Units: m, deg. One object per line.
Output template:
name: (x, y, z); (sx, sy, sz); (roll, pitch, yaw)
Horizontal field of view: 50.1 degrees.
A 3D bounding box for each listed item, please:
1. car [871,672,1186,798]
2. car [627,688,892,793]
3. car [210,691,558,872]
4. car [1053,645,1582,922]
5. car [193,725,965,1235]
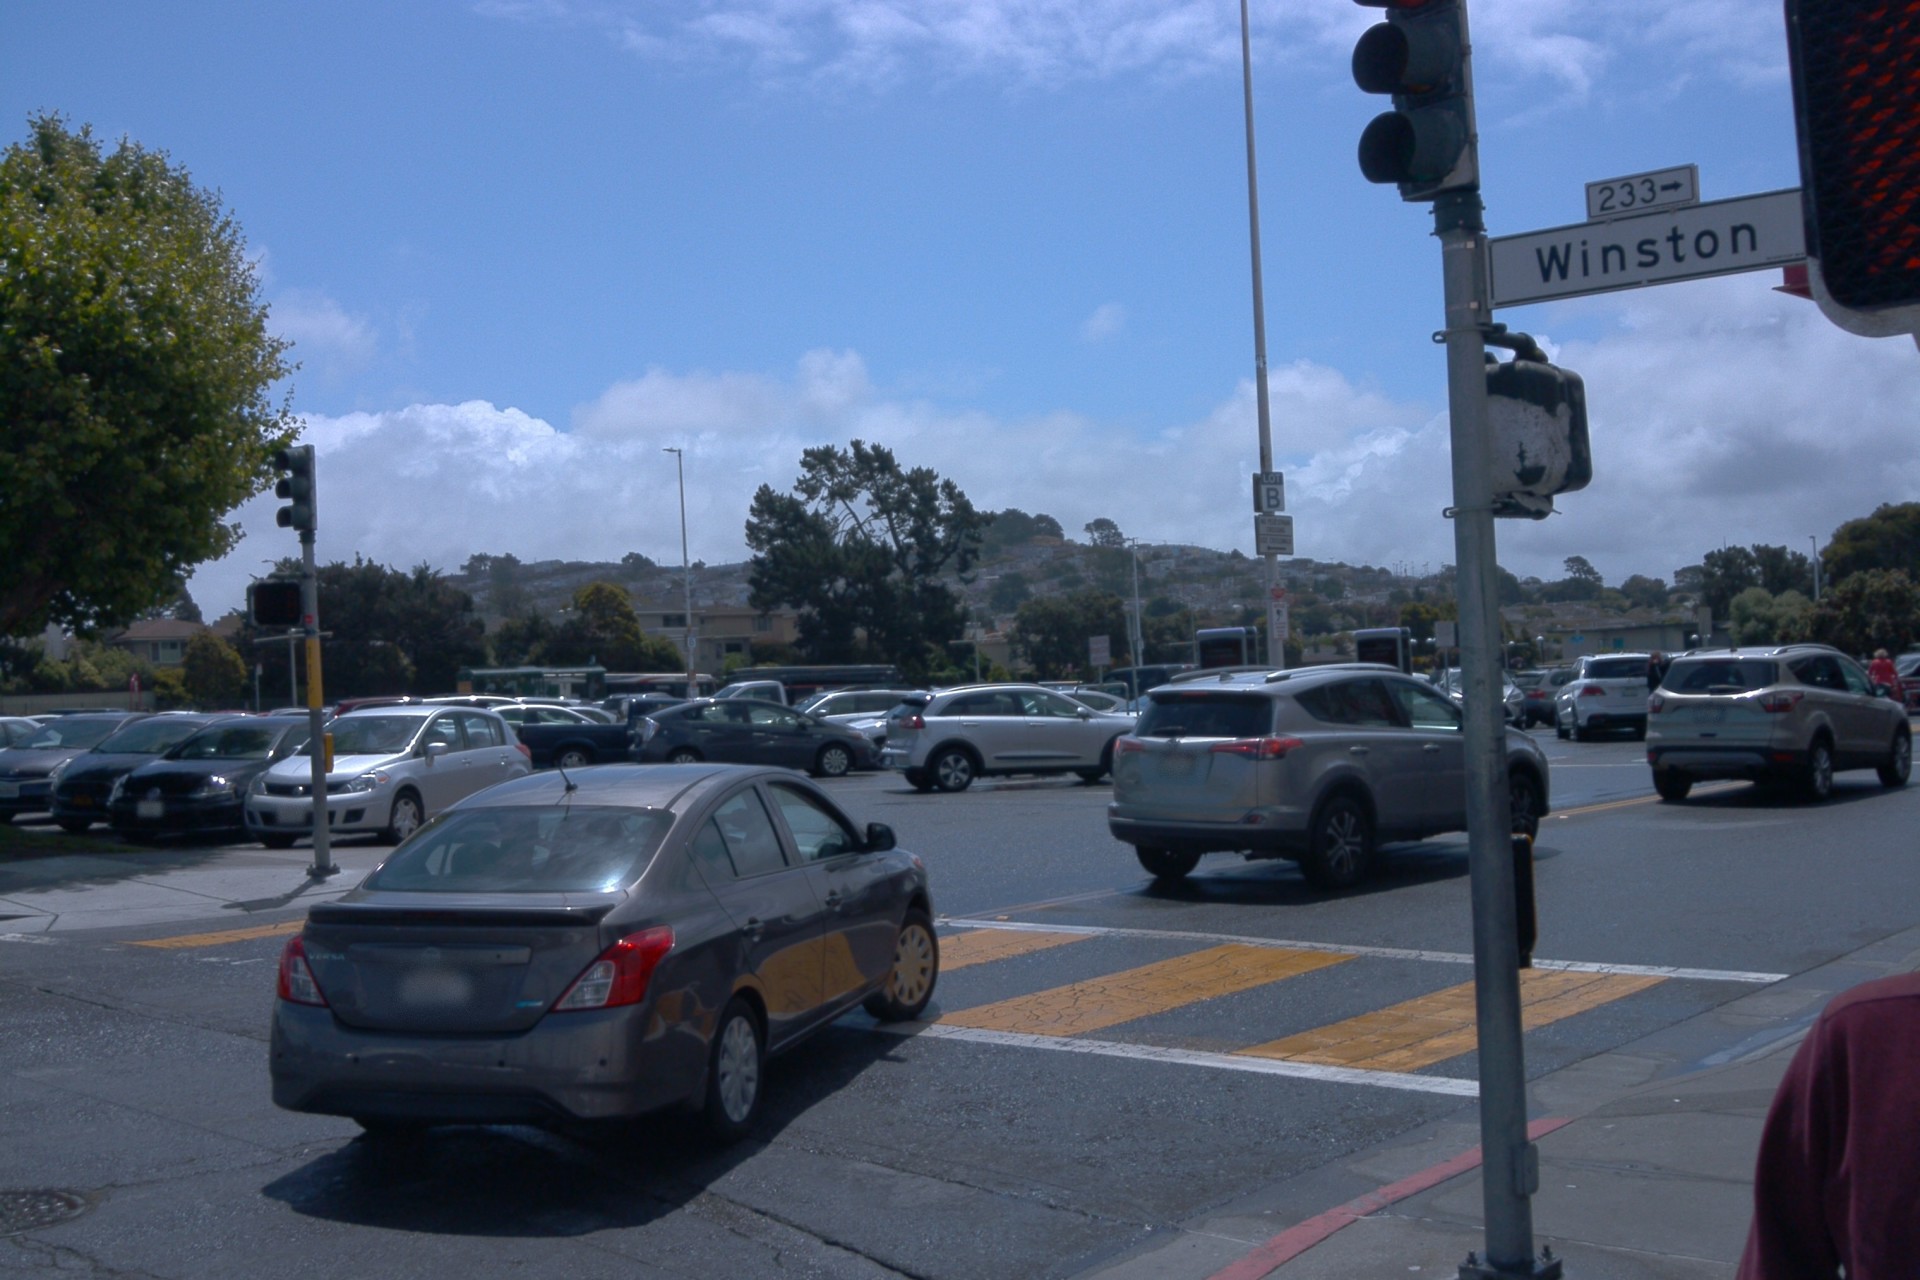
car: (1.004, 1.381, 30.836); (4.312, 1.710, 1.954); (0, 0, -17)
car: (-3.635, 1.771, 37.063); (4.434, 1.710, 2.058); (0, 0, -16)
car: (-6.410, 1.513, 23.423); (1.980, 1.700, 4.257); (0, 1, 14)
car: (3.058, 1.023, 16.944); (2.142, 1.900, 4.486); (0, 1, 44)
car: (-1.440, 1.300, 9.585); (1.945, 1.580, 4.218); (0, 1, 14)
